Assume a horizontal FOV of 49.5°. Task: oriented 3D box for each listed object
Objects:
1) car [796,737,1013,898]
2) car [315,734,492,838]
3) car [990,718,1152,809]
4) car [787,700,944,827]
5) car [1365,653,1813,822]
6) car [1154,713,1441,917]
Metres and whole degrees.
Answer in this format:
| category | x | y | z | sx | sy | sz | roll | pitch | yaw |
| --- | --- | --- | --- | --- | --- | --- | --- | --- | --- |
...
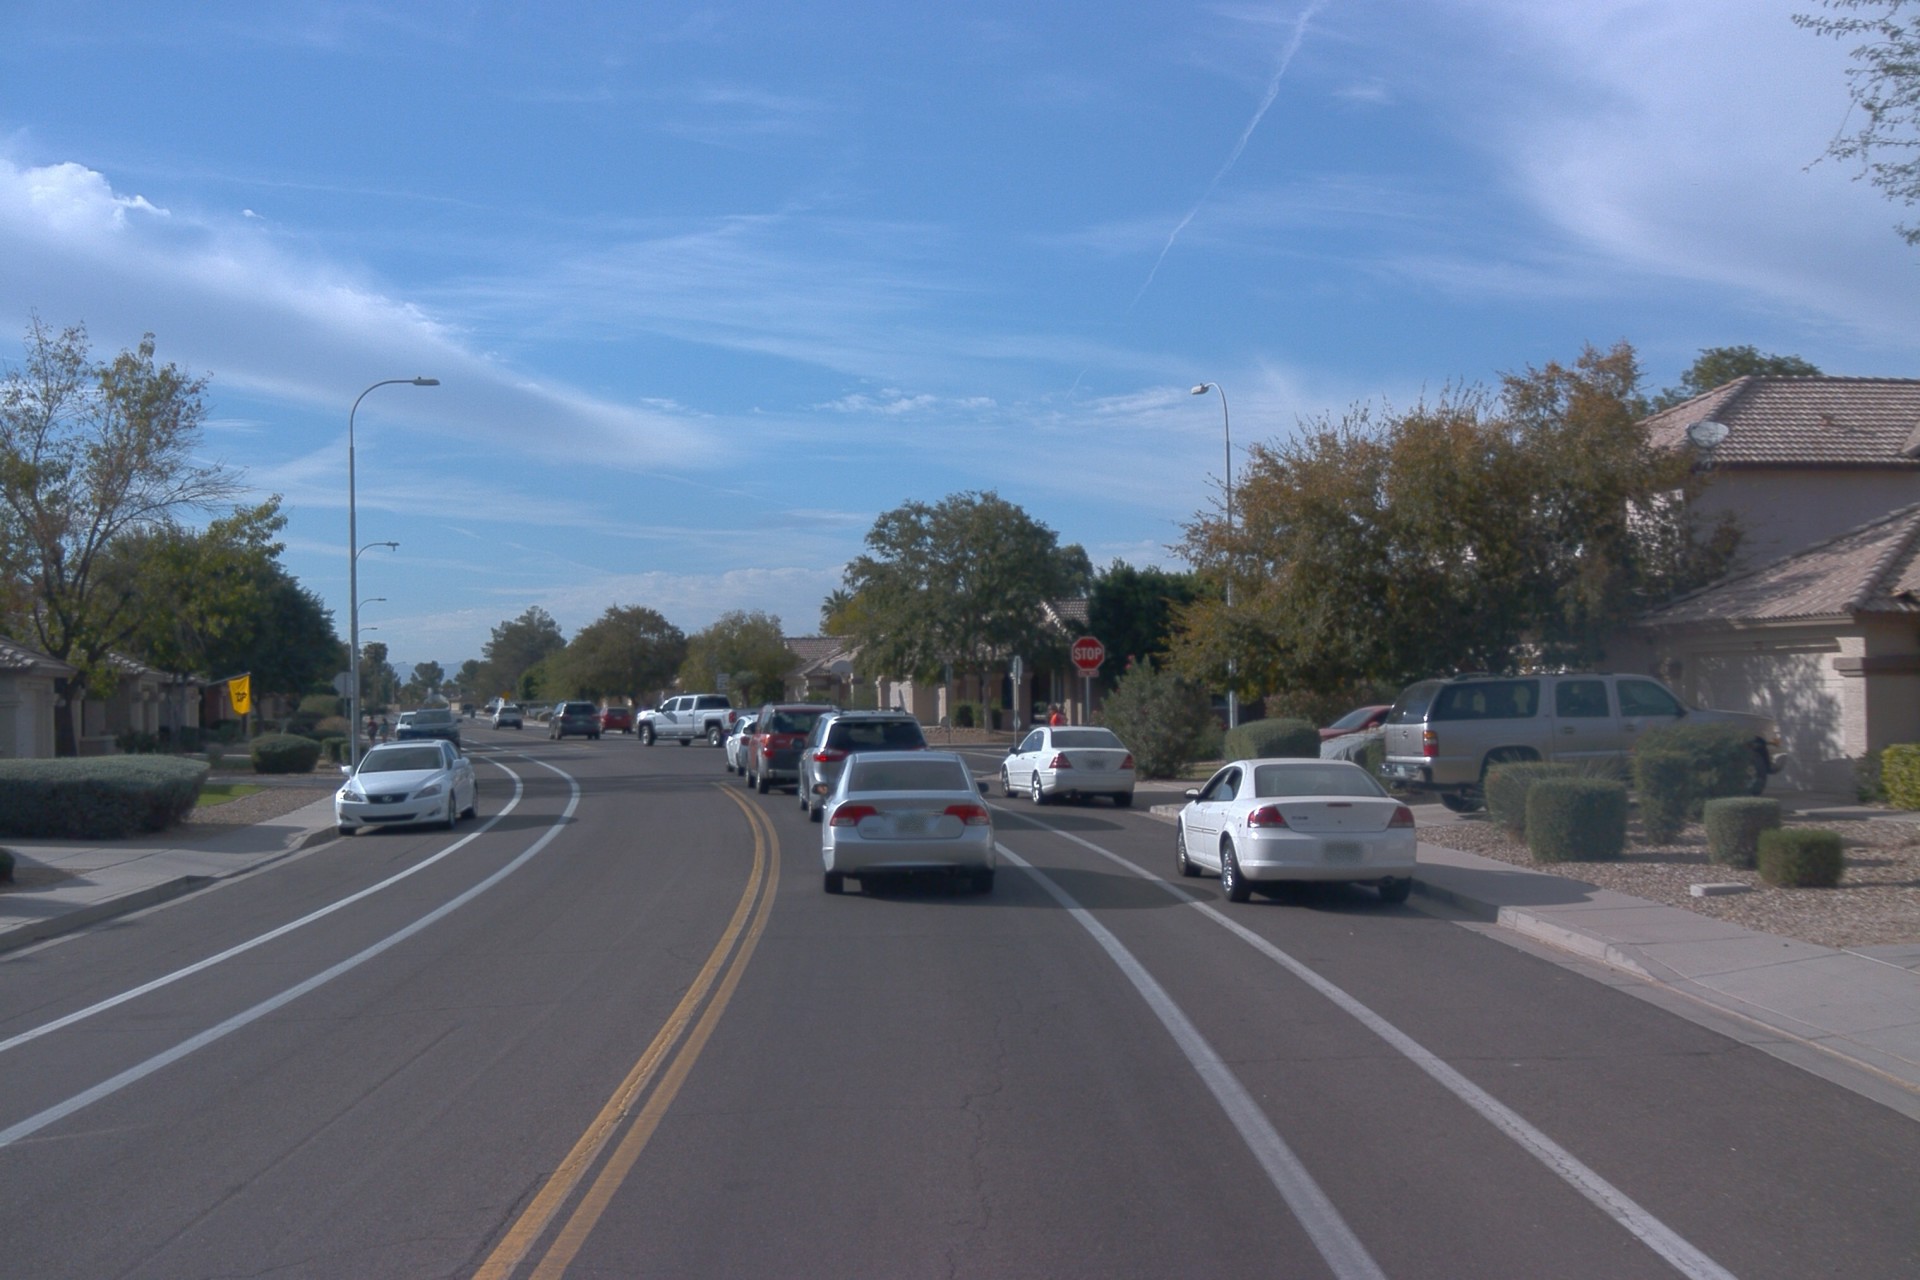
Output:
| category | x | y | z | sx | sy | sz | roll | pitch | yaw |
| --- | --- | --- | --- | --- | --- | --- | --- | --- | --- |
| car | -0.636 | 1.835 | 22.583 | 2.121 | 1.440 | 4.395 | 0 | -1 | -2 |
| car | -9.210 | 2.379 | 34.811 | 2.145 | 1.490 | 4.440 | 0 | -1 | -5 |
| car | 1.959 | 2.215 | 38.109 | 1.981 | 1.460 | 4.428 | 0 | -1 | -10 |
| car | -1.618 | 1.929 | 33.793 | 2.196 | 1.870 | 4.613 | 0 | -1 | -7 |
| car | 8.713 | 1.314 | 29.085 | 5.537 | 2.210 | 2.241 | 0 | -1 | -8 |
| car | 3.335 | 1.695 | 21.561 | 1.909 | 1.780 | 4.708 | 0 | -1 | -4 |
